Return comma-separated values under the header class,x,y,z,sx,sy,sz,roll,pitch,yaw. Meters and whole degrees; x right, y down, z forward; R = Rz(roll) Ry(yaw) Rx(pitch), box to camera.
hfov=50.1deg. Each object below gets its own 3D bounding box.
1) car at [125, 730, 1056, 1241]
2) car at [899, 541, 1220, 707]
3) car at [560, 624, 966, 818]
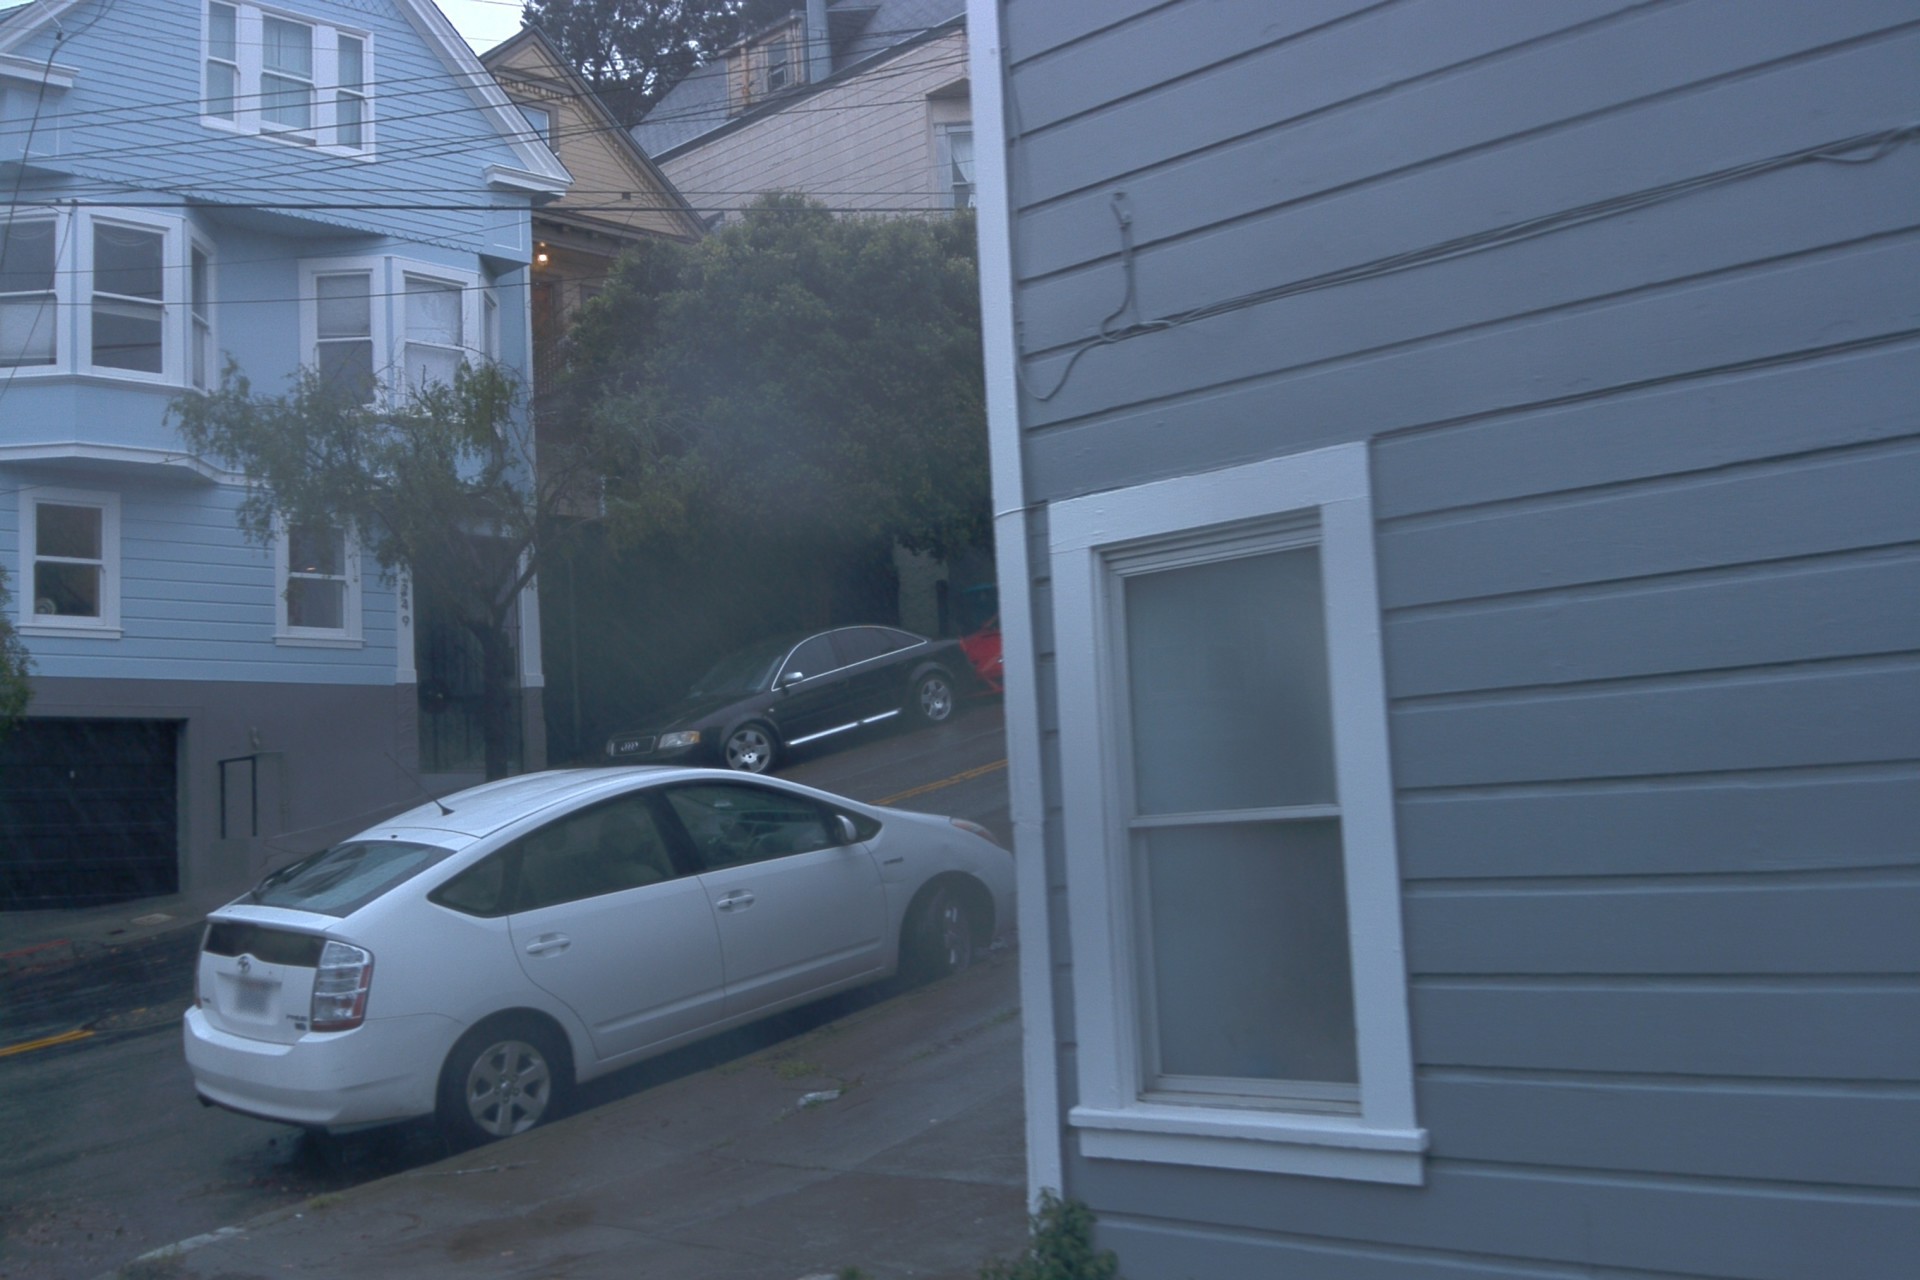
class,x,y,z,sx,sy,sz,roll,pitch,yaw
car,-1.711,1.476,10.397,4.193,1.850,2.044,0,0,-44
car,1.352,-0.197,26.704,2.006,1.990,4.048,1,0,43
car,-2.146,0.823,23.120,2.031,1.970,4.206,1,0,45
